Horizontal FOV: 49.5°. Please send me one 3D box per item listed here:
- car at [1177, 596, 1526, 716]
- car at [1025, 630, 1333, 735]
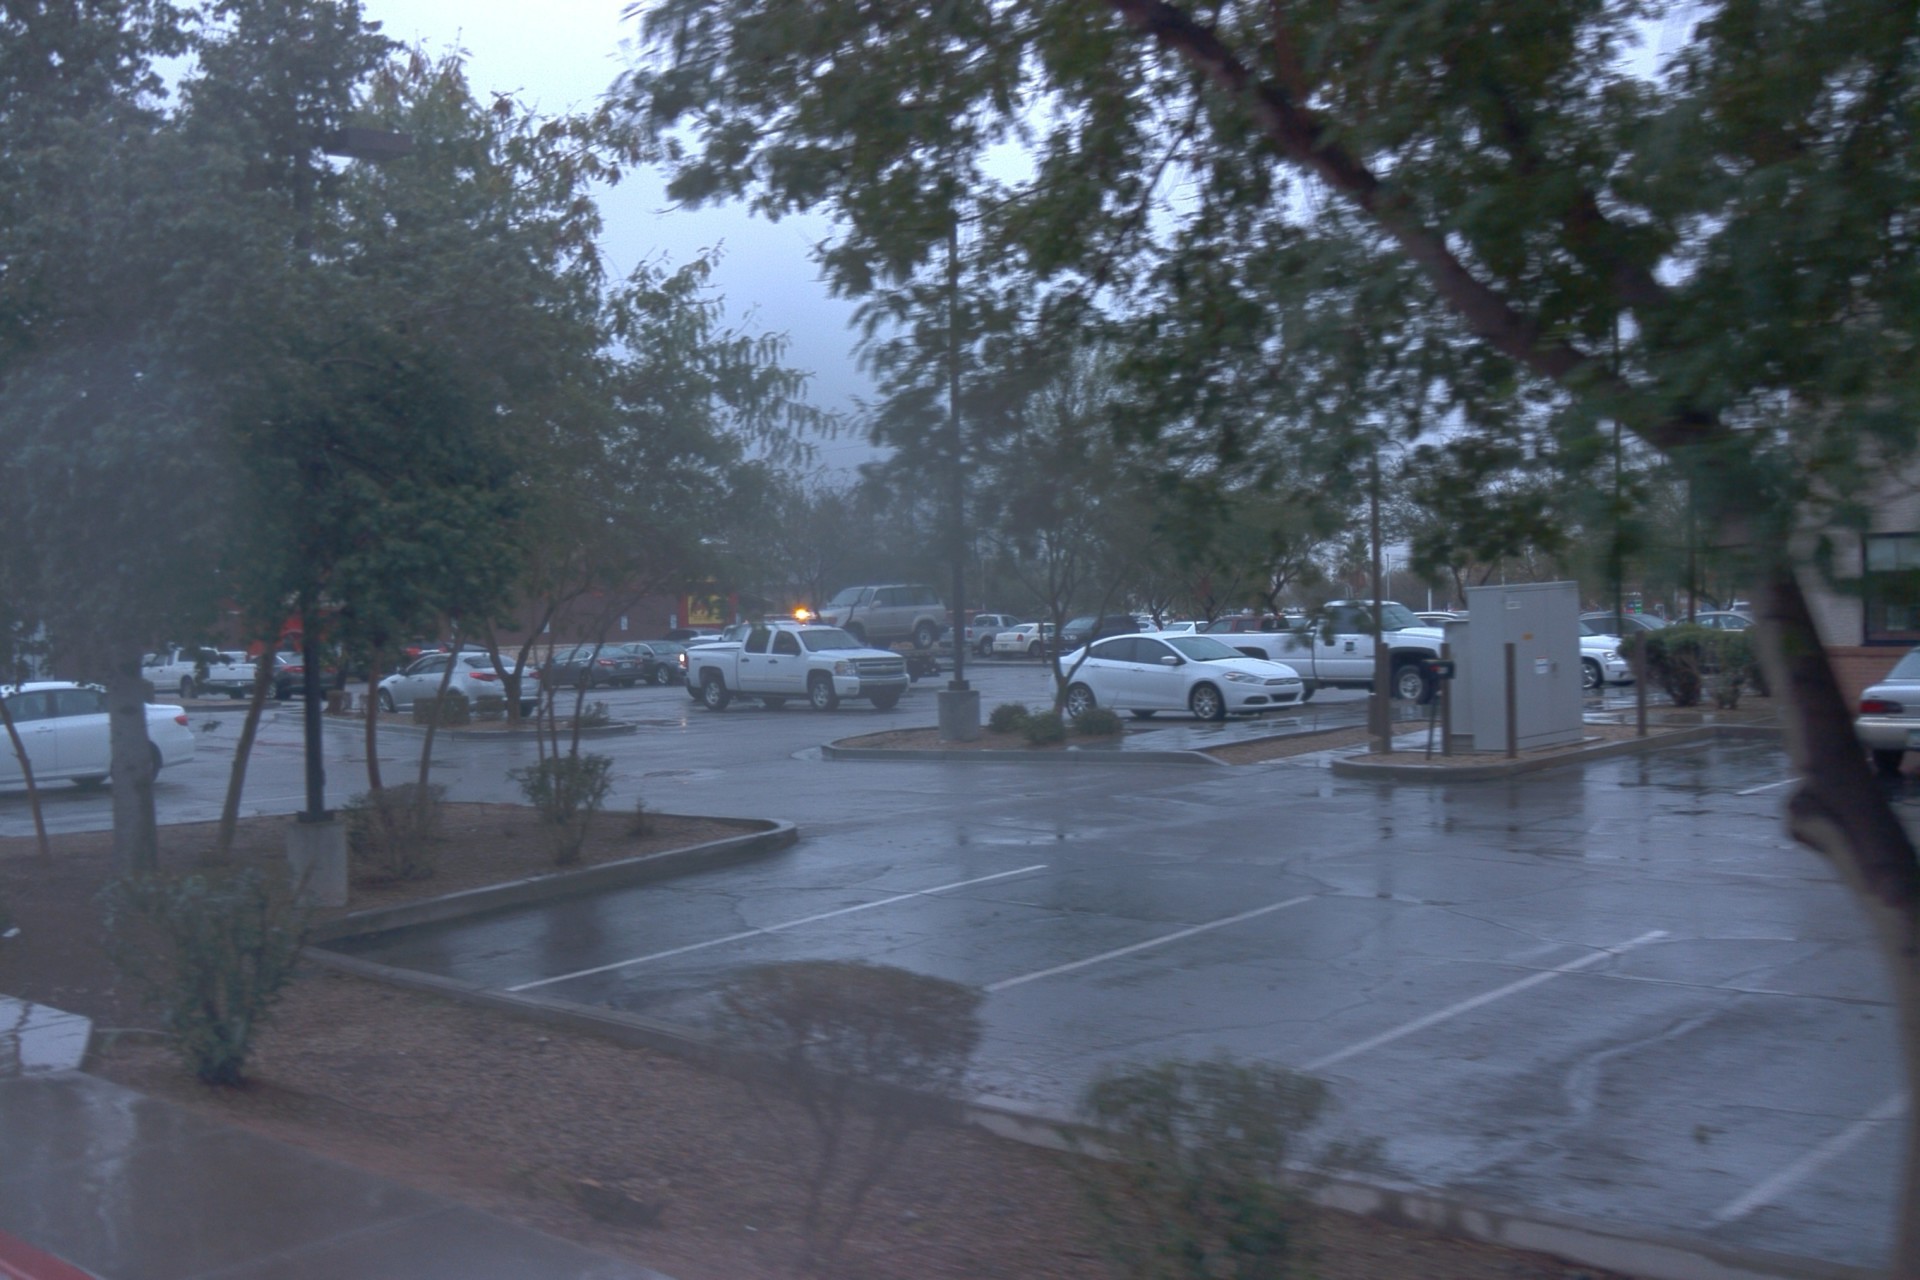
[{"bbox_3d":[7.091,0.295,38.139,5.888,2.030,2.355,0,-1,40],"label":"car"},{"bbox_3d":[3.576,0.677,34.713,2.183,1.620,4.816,0,-1,-44],"label":"car"}]
